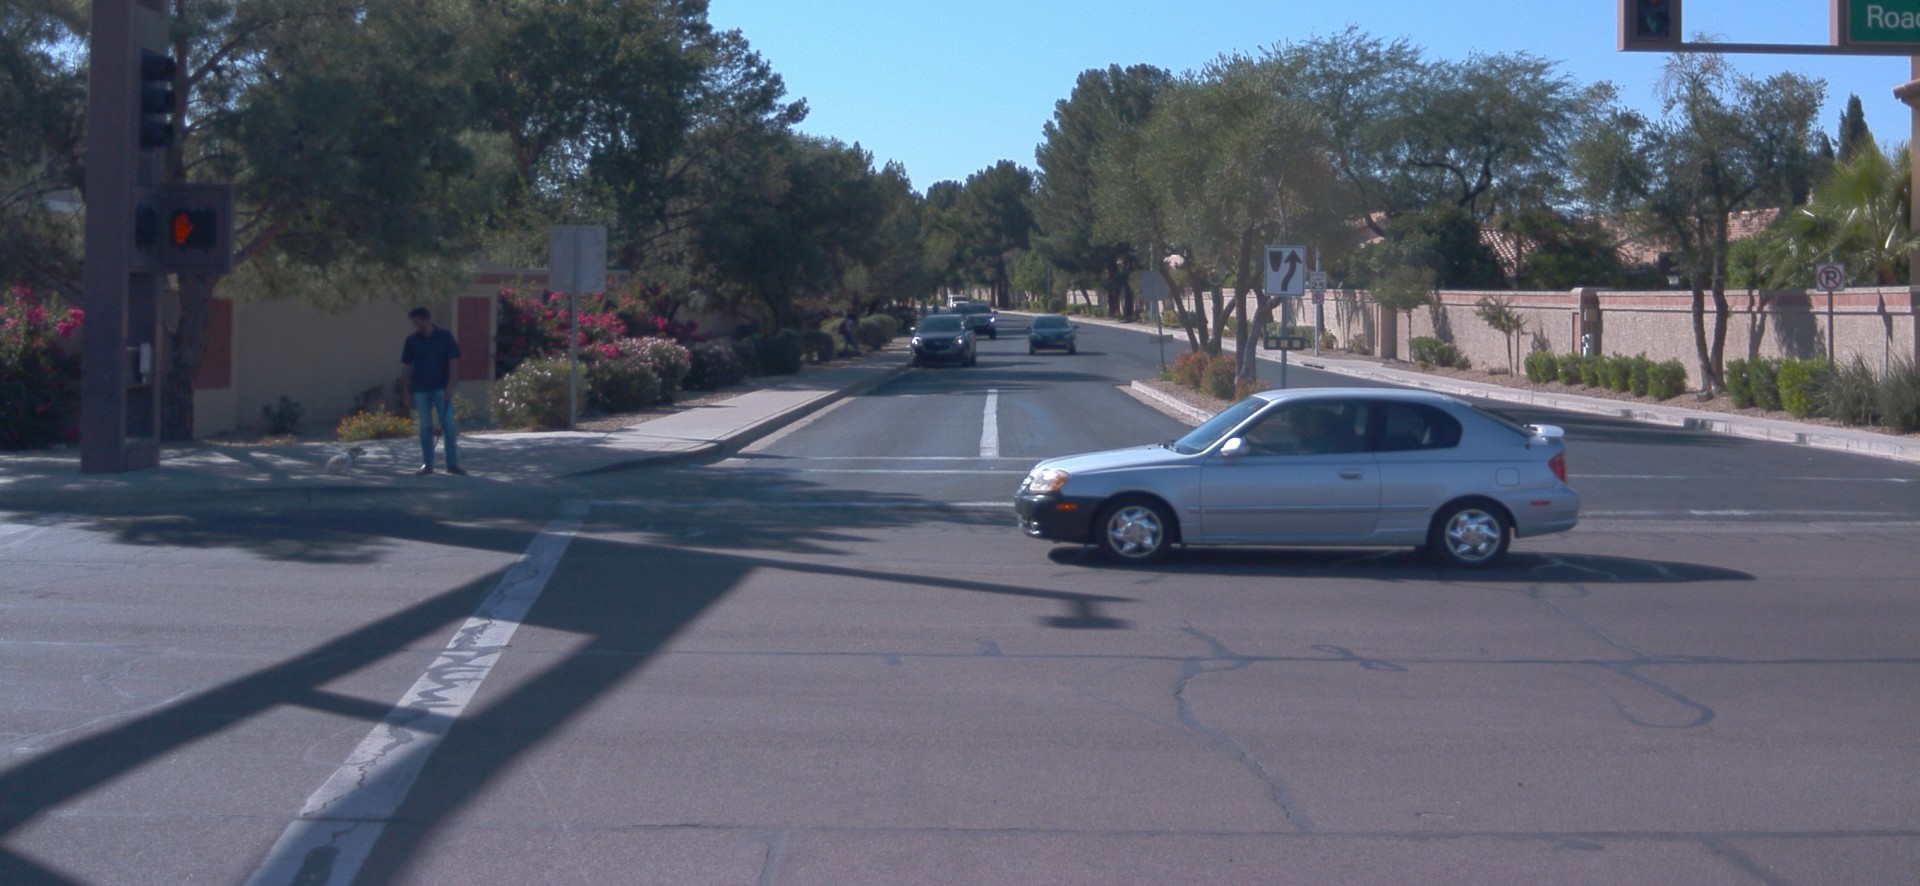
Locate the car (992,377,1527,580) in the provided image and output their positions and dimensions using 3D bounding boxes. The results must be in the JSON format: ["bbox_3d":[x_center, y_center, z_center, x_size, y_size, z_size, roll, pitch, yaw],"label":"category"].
[{"bbox_3d":[2.315,0.243,16.992,4.093,1.396,1.845,0,4,0],"label":"car"}]

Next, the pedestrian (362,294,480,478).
[{"bbox_3d":[-5.912,-0.649,23.024,1.000,1.938,1.003,0,2,1],"label":"pedestrian"}]
